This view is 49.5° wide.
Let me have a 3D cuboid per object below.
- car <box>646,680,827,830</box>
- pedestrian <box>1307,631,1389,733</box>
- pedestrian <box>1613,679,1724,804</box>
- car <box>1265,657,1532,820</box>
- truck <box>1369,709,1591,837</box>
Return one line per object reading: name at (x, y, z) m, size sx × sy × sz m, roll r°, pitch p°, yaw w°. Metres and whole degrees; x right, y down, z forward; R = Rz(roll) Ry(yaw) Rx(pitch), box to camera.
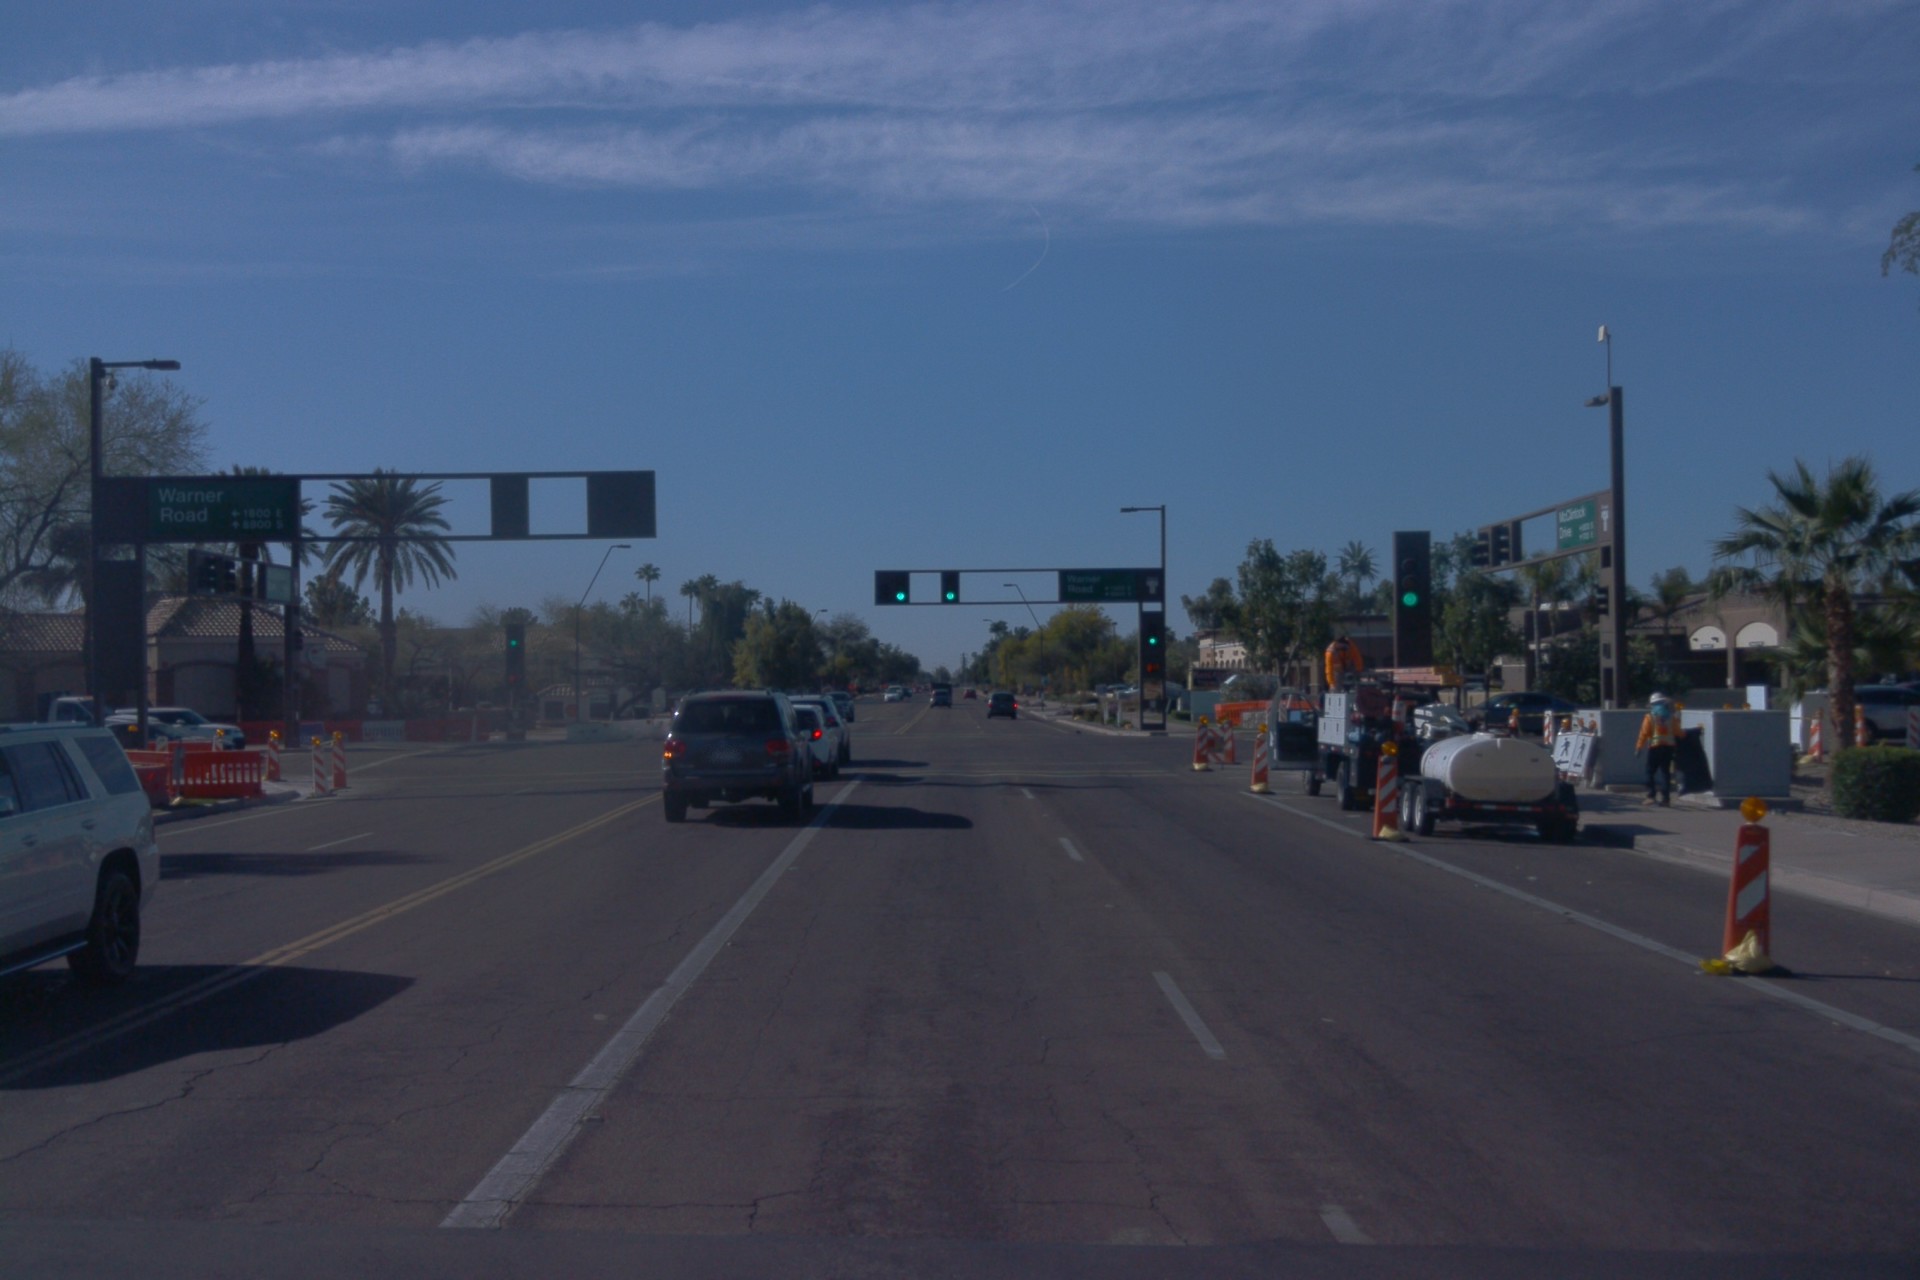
car at (-3.304, 1.663, 31.810) m, size 2.283 × 2.090 × 5.332 m, roll 0°, pitch -1°, yaw -1°
pedestrian at (6.591, 0.711, 35.325) m, size 1.168 × 1.690 × 0.881 m, roll -1°, pitch -1°, yaw 26°
pedestrian at (11.110, 1.574, 32.678) m, size 1.294 × 1.910 × 0.987 m, roll 0°, pitch -1°, yaw -18°
car at (7.319, 1.599, 35.837) m, size 2.956 × 2.510 × 7.189 m, roll 0°, pitch -1°, yaw -1°
truck at (7.274, 1.832, 29.534) m, size 2.342 × 1.660 × 3.637 m, roll 0°, pitch -1°, yaw 2°
